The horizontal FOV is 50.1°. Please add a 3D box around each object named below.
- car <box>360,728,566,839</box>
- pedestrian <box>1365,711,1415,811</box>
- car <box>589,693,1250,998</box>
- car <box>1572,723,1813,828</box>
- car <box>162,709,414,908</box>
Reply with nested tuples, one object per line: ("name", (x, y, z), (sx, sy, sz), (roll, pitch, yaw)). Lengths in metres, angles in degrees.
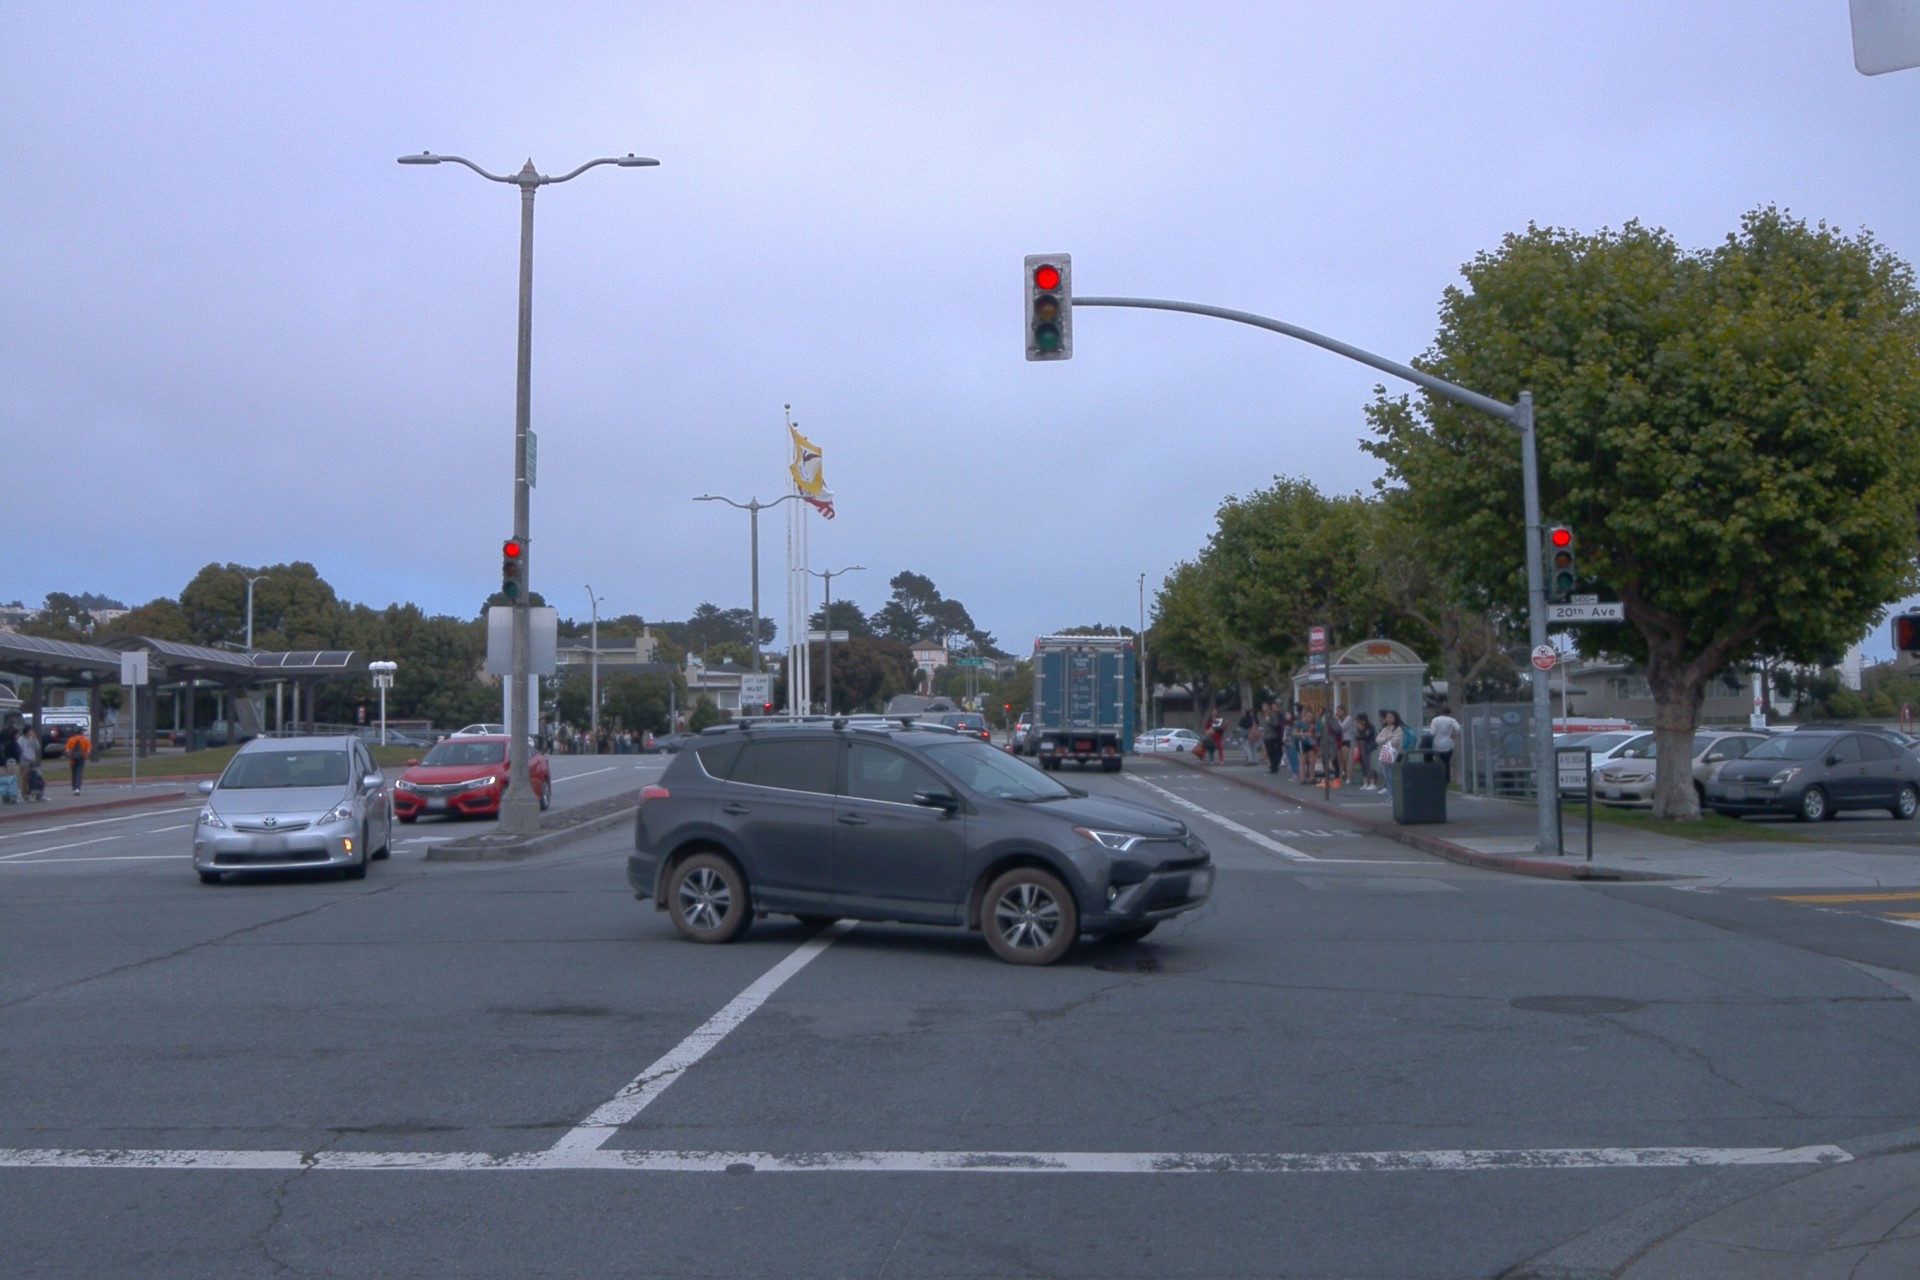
("car", (-8.445, 2.407, 35.392), (2.283, 1.526, 4.648), (0, 1, 2))
("pedestrian", (7.523, 2.104, 35.969), (0.605, 1.700, 0.726), (0, 1, -12))
("car", (-0.330, 1.418, 15.661), (4.603, 1.889, 2.096), (0, 1, 28))
("car", (12.846, 2.323, 36.018), (3.959, 1.540, 1.985), (-1, 1, -33))
("car", (-7.600, 1.827, 23.710), (2.106, 1.825, 4.690), (0, 1, -10))
